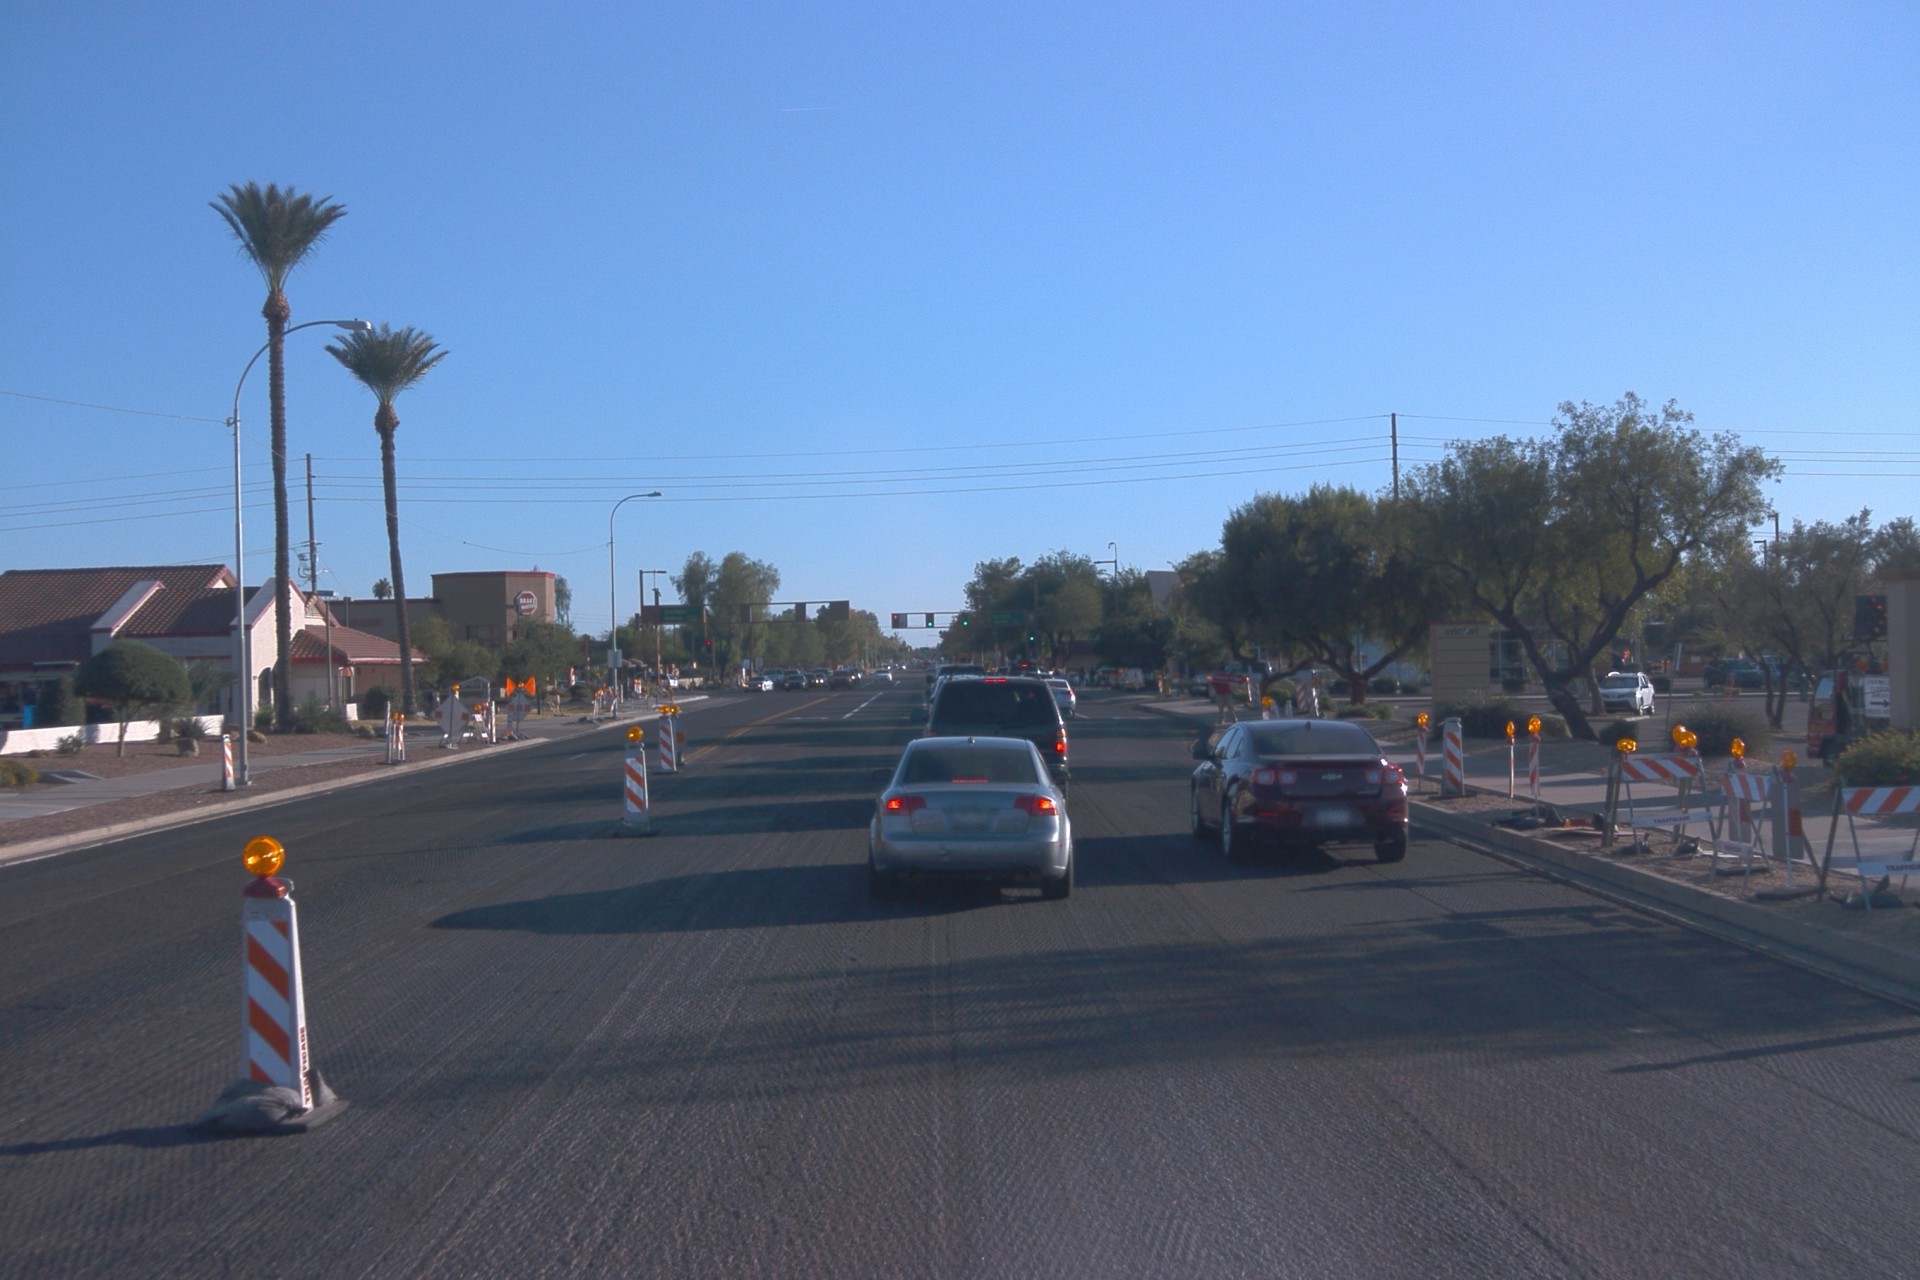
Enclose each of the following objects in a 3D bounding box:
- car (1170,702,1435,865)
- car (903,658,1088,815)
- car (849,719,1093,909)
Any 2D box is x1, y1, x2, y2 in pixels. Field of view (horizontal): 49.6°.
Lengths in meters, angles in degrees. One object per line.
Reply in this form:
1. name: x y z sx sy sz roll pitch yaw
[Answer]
1. car: 3.627 1.485 22.935 2.110 1.540 4.833 0 -1 0
2. car: 0.466 1.299 29.629 2.405 2.040 5.061 0 -1 0
3. car: 0.111 1.536 19.519 2.033 1.480 4.402 0 -1 1
